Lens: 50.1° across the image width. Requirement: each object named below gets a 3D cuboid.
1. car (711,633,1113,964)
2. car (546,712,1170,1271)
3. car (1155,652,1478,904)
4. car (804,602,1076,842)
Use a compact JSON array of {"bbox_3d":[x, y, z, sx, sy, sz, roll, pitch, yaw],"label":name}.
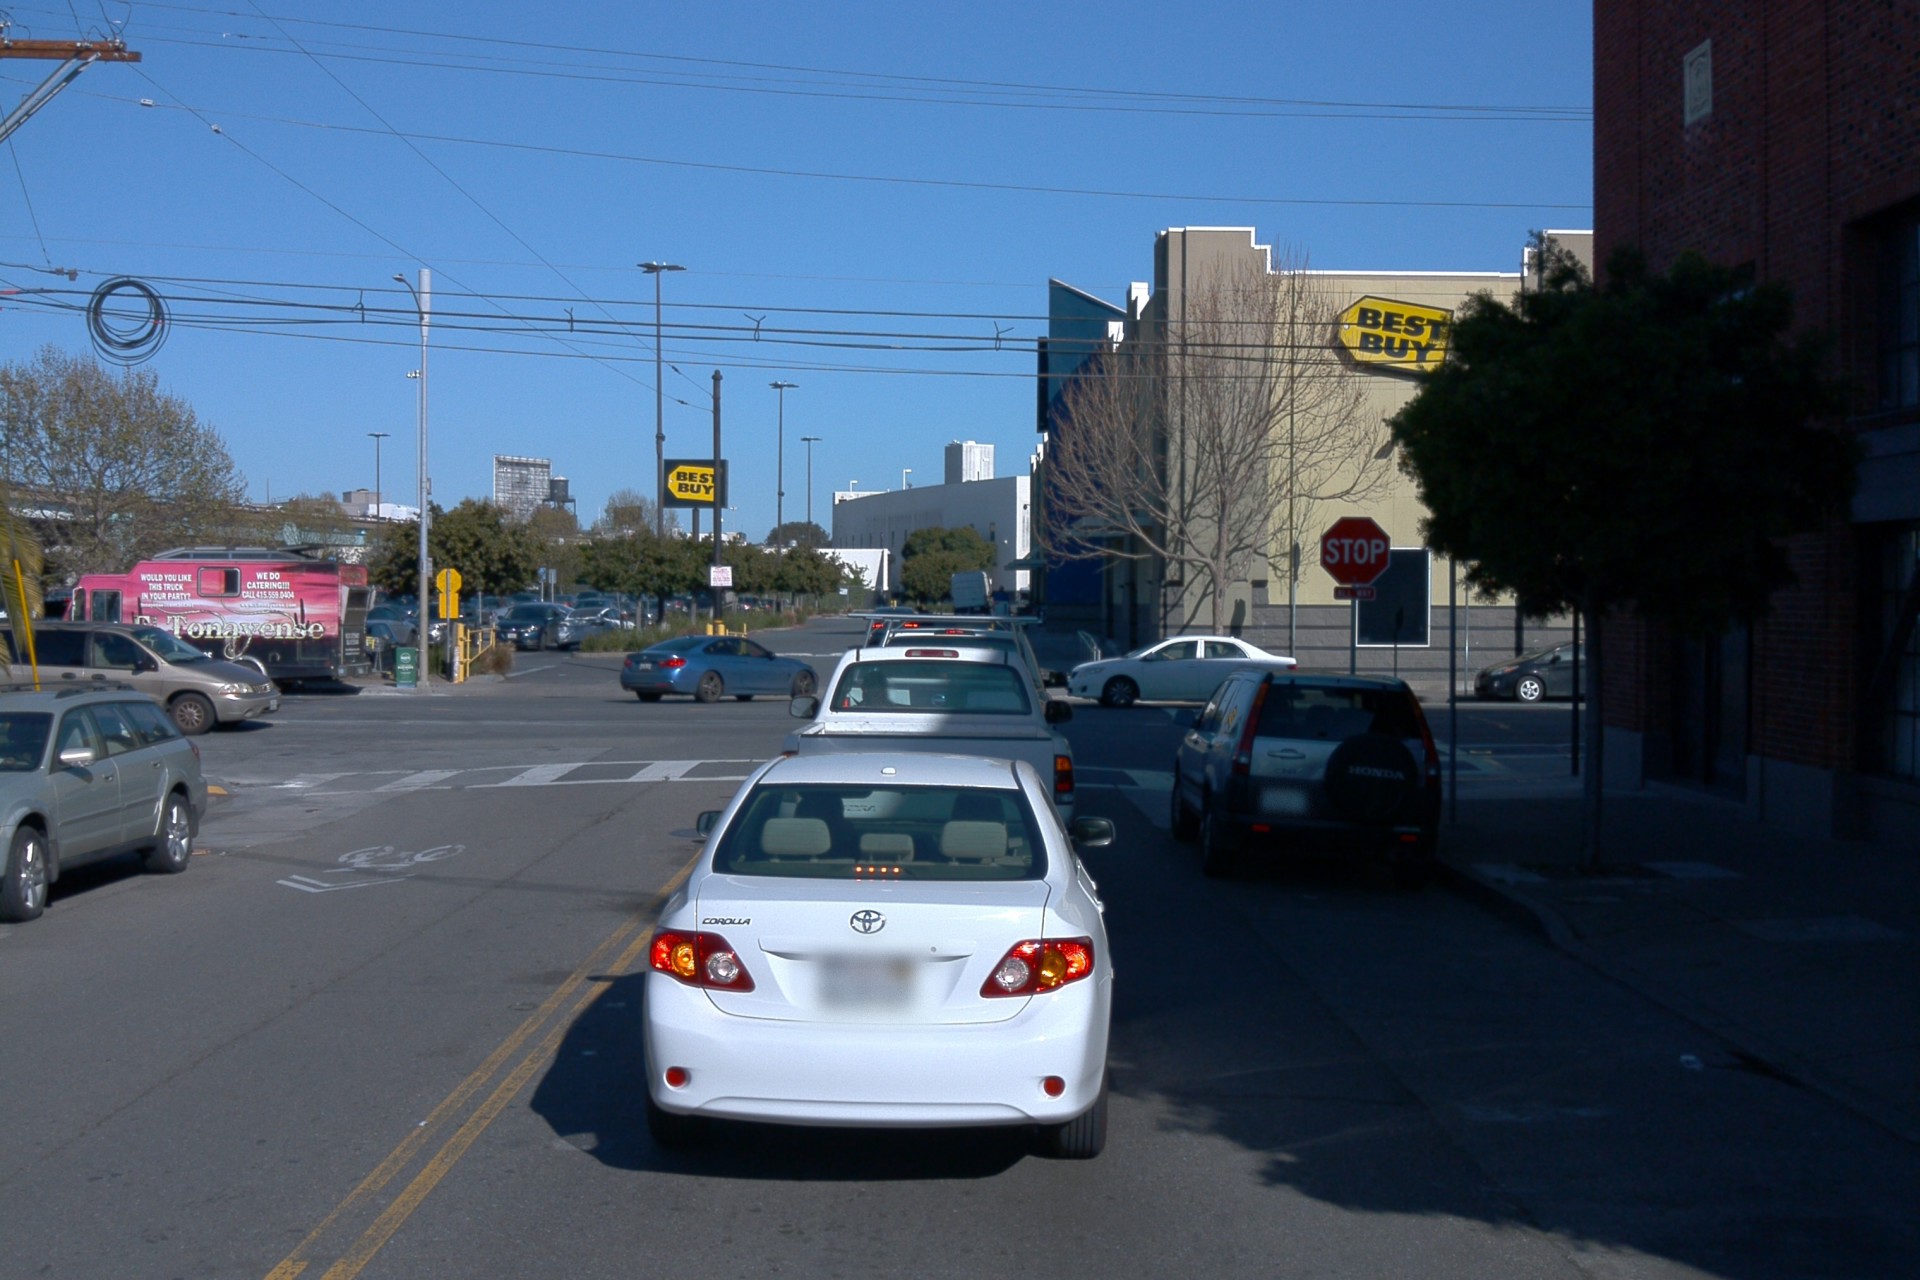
[{"bbox_3d":[-0.277,0.944,15.159,2.386,1.880,5.557,1,1,0],"label":"car"},{"bbox_3d":[-0.297,1.241,9.059,2.045,1.580,4.504,1,1,1],"label":"car"},{"bbox_3d":[2.829,1.027,17.291,2.017,1.730,4.285,1,1,1],"label":"car"},{"bbox_3d":[-0.030,0.701,21.527,2.386,2.140,5.556,1,1,4],"label":"car"}]
